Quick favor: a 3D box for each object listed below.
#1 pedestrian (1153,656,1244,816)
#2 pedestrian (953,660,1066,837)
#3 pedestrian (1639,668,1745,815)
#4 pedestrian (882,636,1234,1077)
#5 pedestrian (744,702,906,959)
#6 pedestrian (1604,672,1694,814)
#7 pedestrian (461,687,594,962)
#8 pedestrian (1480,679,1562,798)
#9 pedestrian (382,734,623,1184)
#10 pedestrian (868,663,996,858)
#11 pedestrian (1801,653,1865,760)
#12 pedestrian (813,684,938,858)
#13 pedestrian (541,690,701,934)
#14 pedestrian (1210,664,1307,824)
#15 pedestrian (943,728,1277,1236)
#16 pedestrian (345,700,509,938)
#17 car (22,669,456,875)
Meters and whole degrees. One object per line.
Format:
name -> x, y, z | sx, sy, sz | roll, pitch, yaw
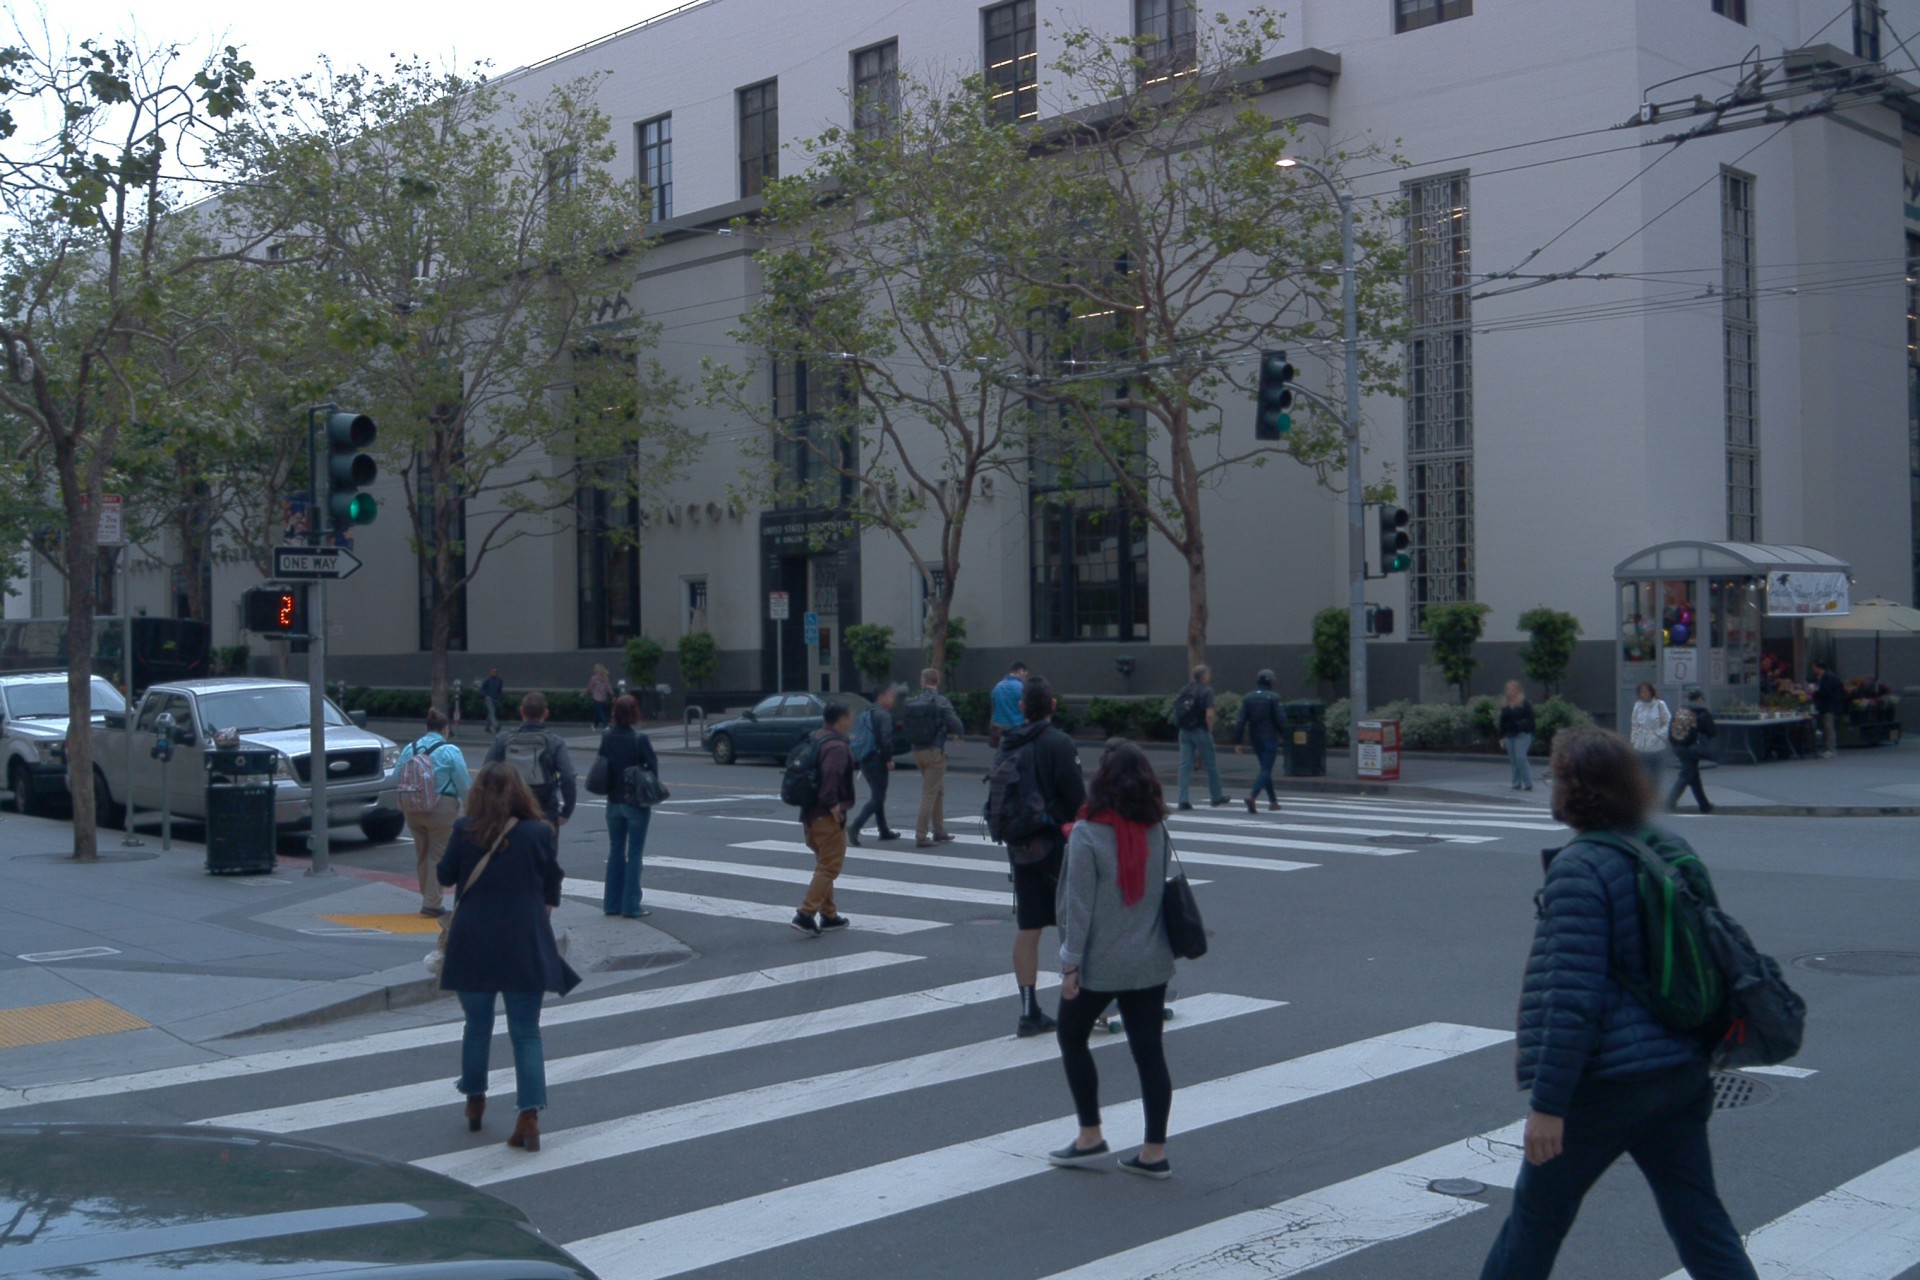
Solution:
pedestrian -> 2.887, 1.136, 24.932 | 0.678, 1.856, 0.980 | 0, 1, 38
pedestrian -> 0.553, 1.187, 23.074 | 0.984, 1.896, 0.798 | -1, 1, -44
pedestrian -> 9.160, 1.253, 25.839 | 0.963, 1.766, 0.842 | -1, 1, -36
pedestrian -> 0.531, 1.049, 10.940 | 1.544, 2.118, 1.097 | -1, 1, -44
pedestrian -> -0.993, 1.372, 15.258 | 0.716, 1.771, 0.964 | 1, 1, 44
pedestrian -> 9.137, 1.348, 27.353 | 0.807, 1.800, 0.940 | 1, 1, 43
pedestrian -> -3.027, 1.251, 14.399 | 0.853, 1.809, 0.939 | 0, 1, -15
pedestrian -> 8.022, 1.392, 29.527 | 0.893, 1.646, 0.735 | -1, 1, -37
pedestrian -> -1.976, 1.307, 8.844 | 0.886, 1.741, 0.888 | 0, 1, -21
pedestrian -> -0.279, 1.200, 20.994 | 1.051, 1.896, 0.762 | -1, 1, -40
pedestrian -> 14.691, 1.101, 34.731 | 0.751, 1.746, 0.848 | 1, 1, 42
pedestrian -> -0.877, 1.325, 21.334 | 0.974, 1.706, 0.840 | -1, 1, -43
pedestrian -> -2.748, 1.358, 16.751 | 0.828, 1.856, 0.973 | 1, 1, 40
pedestrian -> 3.513, 1.201, 24.228 | 0.753, 1.796, 0.988 | 0, 1, 36
pedestrian -> 0.570, 1.248, 8.003 | 0.800, 1.739, 1.039 | -1, 1, -38
pedestrian -> -4.219, 1.389, 16.401 | 0.830, 1.767, 1.012 | 0, 1, 19
car -> -8.517, 1.382, 24.000 | 2.501, 1.940, 6.007 | -1, 1, -44
